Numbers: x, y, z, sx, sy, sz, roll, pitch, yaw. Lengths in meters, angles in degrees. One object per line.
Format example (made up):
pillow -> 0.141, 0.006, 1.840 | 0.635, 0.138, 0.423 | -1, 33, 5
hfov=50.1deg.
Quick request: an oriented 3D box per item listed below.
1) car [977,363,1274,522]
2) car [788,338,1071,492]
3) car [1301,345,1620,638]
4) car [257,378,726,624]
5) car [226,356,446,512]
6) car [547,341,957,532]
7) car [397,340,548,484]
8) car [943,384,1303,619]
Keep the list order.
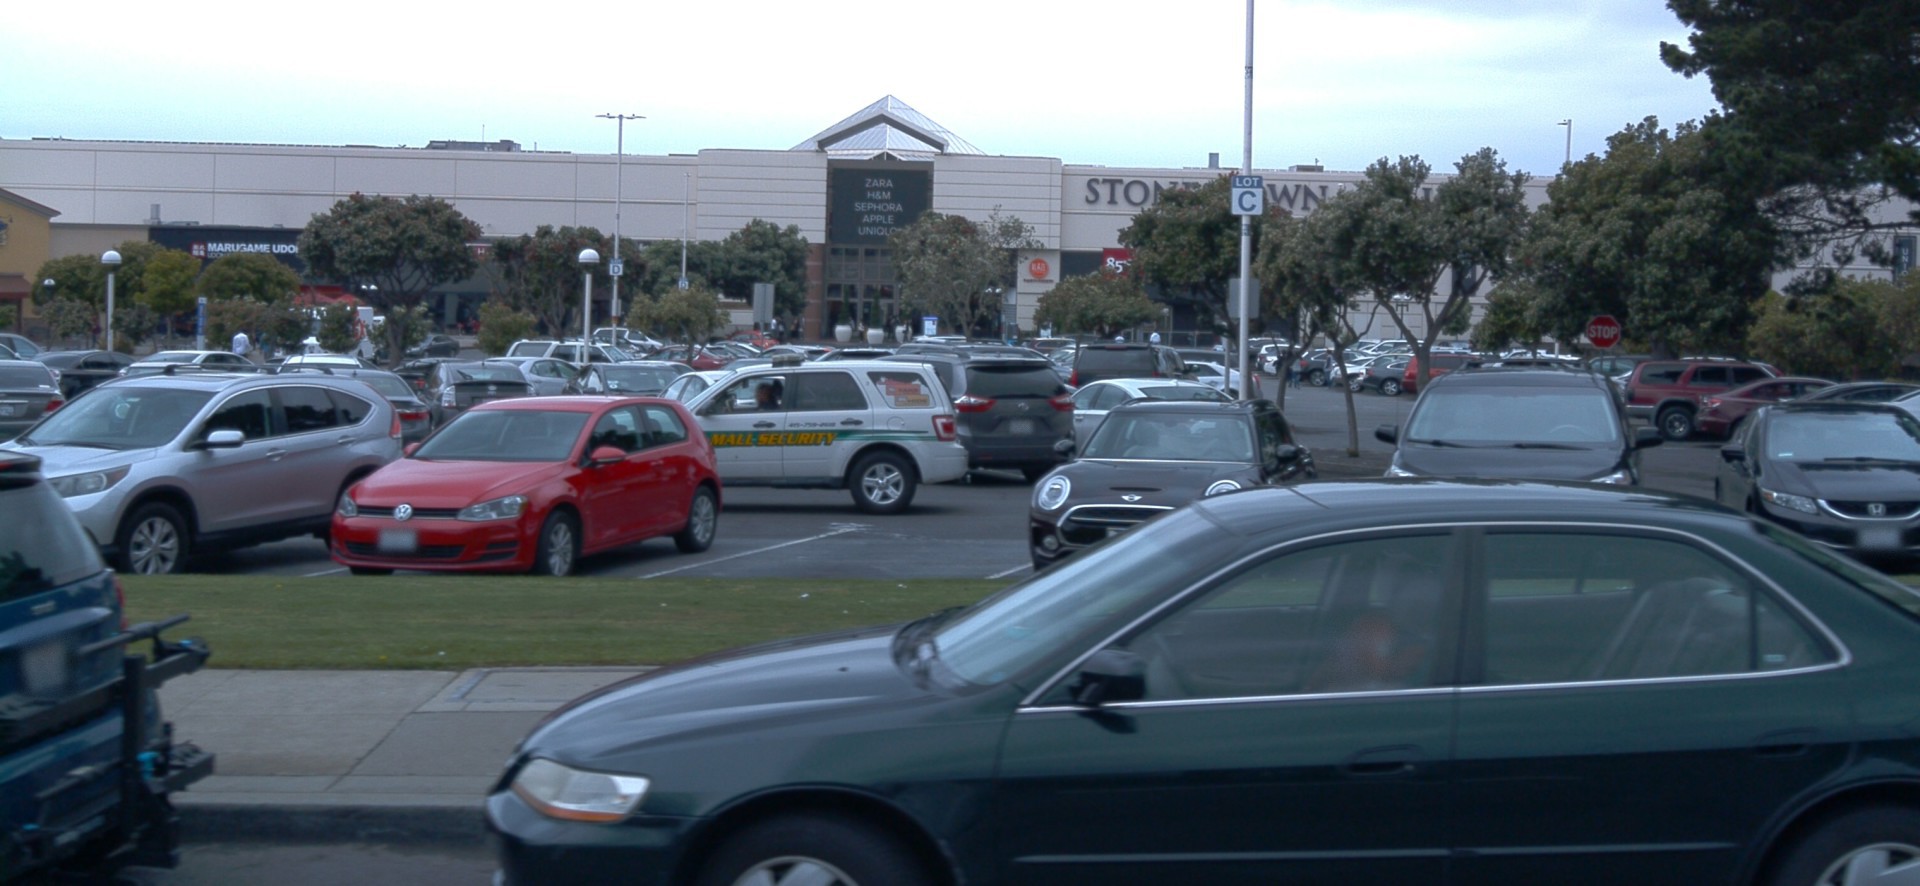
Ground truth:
car -> 2.215, -0.110, 29.037 | 2.333, 1.716, 4.743 | -2, 5, -22
car -> -0.530, -0.486, 28.852 | 2.080, 1.724, 4.551 | -2, 5, -29
car -> 4.491, 0.221, 17.794 | 2.235, 1.853, 5.087 | 1, 5, 19
car -> -3.789, 0.356, 17.458 | 2.058, 1.494, 4.205 | 1, 5, 17
car -> -8.924, -0.225, 29.118 | 2.122, 1.714, 4.687 | -2, 5, -28
car -> -2.260, -0.119, 23.333 | 4.434, 1.957, 2.079 | 0, 3, -1
car -> -8.428, -0.626, 35.235 | 2.172, 2.003, 4.873 | -1, 5, -18
car -> 1.536, 0.361, 17.473 | 2.167, 1.384, 4.294 | 1, 5, 17
